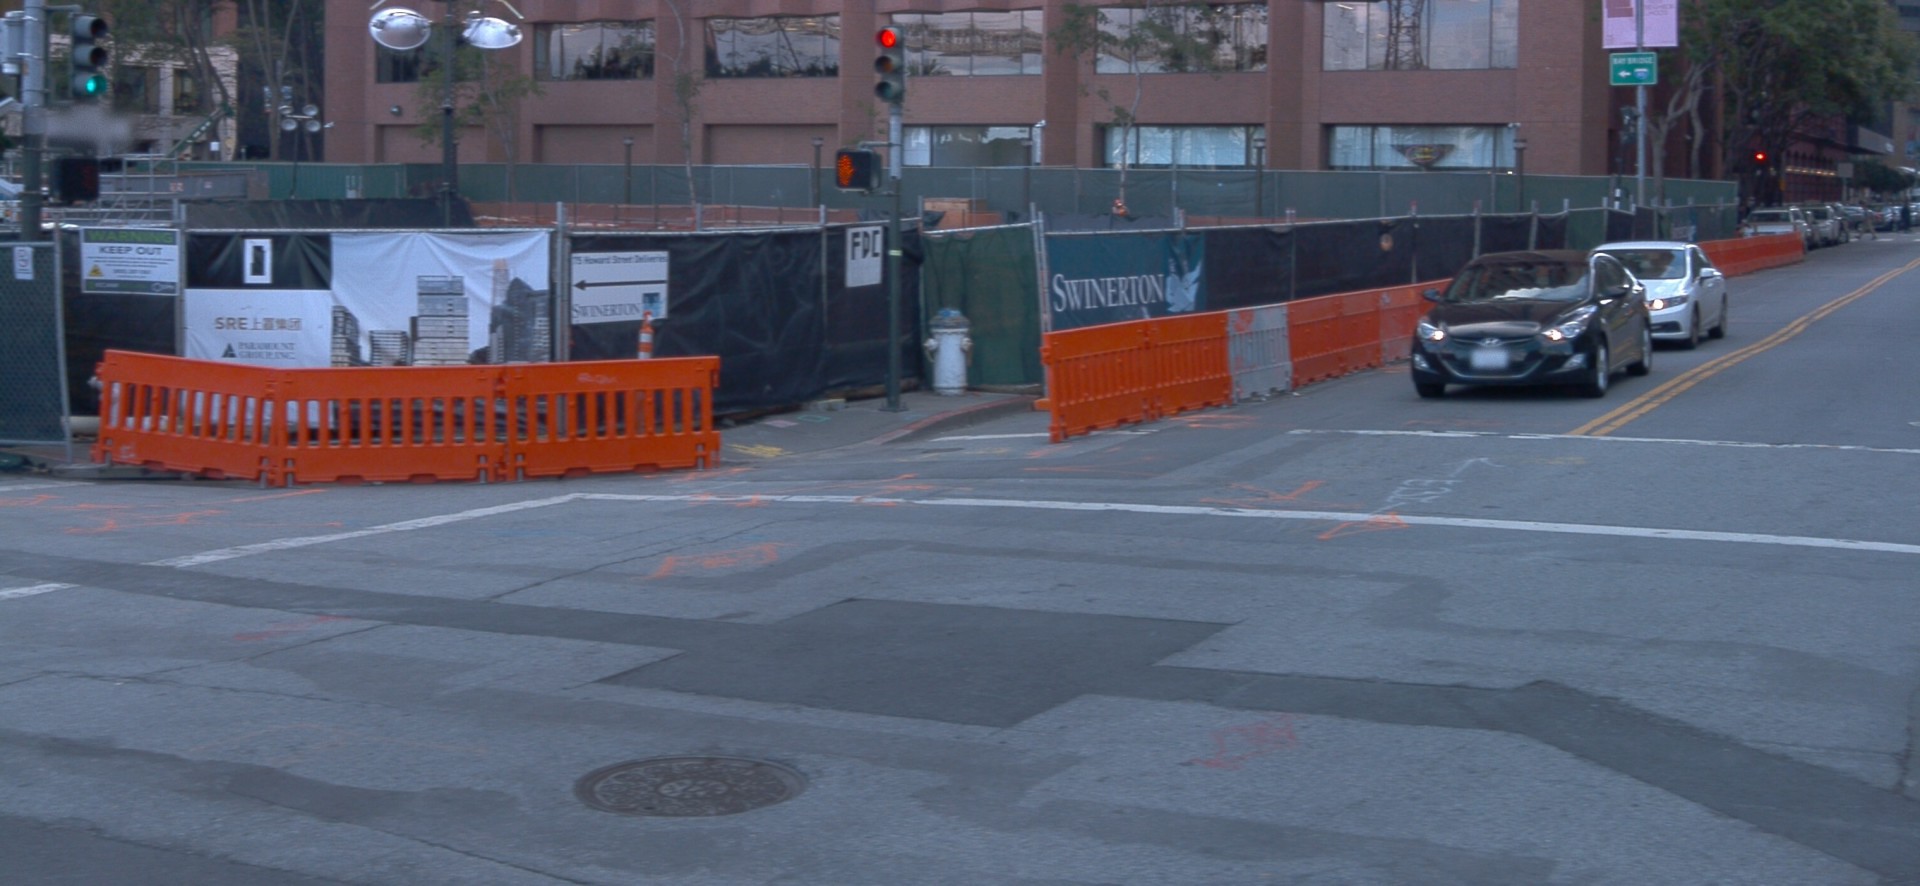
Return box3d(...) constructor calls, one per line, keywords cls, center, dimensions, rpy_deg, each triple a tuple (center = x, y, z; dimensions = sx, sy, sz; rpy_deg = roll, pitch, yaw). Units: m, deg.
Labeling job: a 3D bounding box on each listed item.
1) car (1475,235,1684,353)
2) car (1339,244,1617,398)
box3d(cls="car", center=(8.715, -2.150, 28.774), dimensions=(2.057, 1.495, 4.641), rpy_deg=(2, 5, 26))
box3d(cls="car", center=(5.601, -1.387, 21.876), dimensions=(1.997, 1.425, 4.626), rpy_deg=(2, 5, 25))
